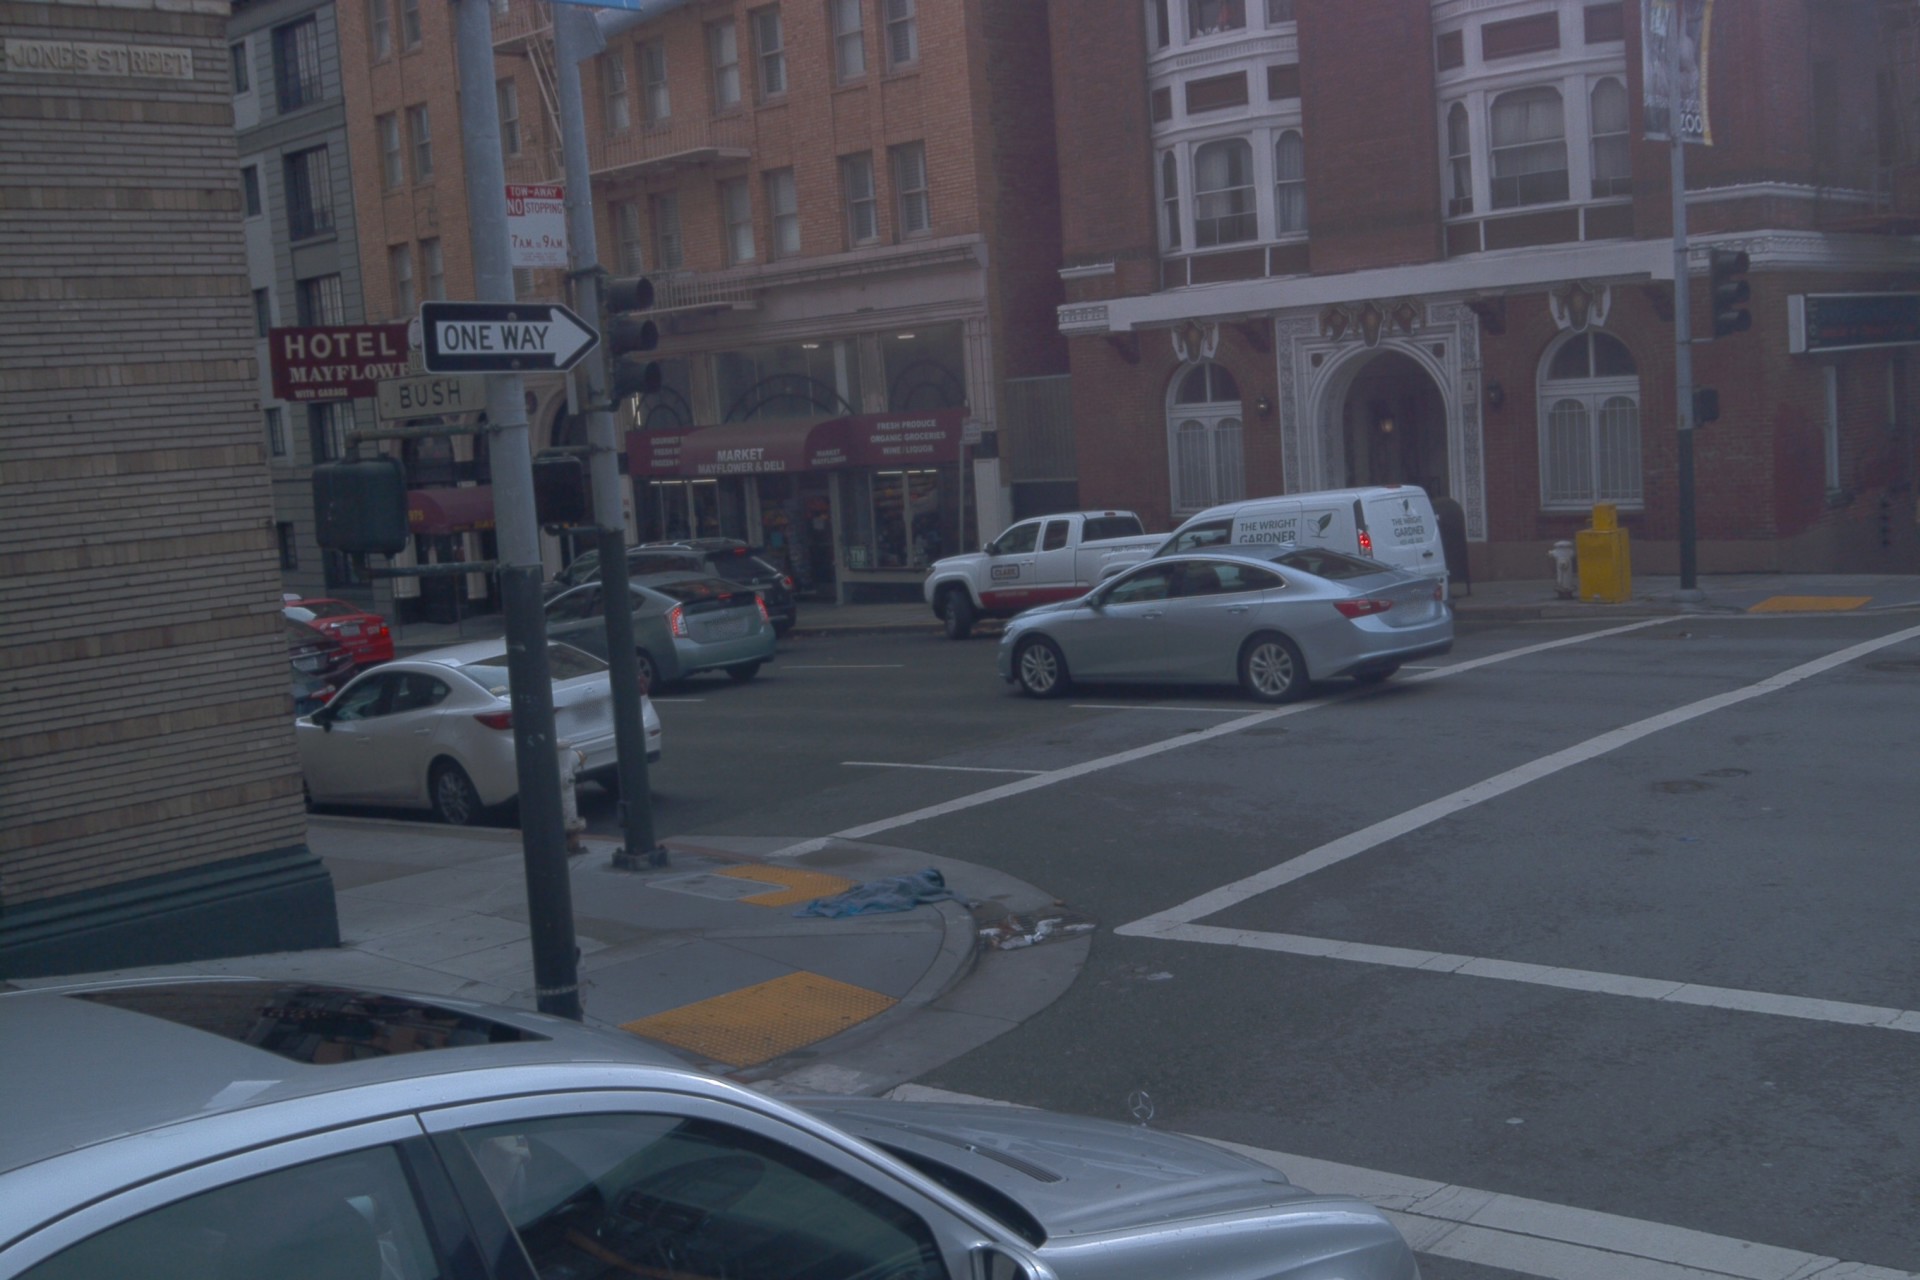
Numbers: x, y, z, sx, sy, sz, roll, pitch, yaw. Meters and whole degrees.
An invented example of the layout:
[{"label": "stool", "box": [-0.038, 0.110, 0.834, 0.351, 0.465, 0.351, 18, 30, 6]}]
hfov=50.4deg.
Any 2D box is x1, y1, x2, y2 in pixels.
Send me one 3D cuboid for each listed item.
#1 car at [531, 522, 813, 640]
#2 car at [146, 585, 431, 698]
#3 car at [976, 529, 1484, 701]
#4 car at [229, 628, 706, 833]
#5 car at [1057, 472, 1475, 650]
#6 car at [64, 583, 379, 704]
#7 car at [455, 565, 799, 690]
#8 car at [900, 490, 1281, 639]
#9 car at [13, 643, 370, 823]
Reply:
[{"label": "car", "box": [-4.538, -0.914, 31.690, 4.624, 1.700, 1.865, 2, 1, 44]}, {"label": "car", "box": [-11.076, -0.023, 33.467, 4.902, 1.680, 2.362, 2, 1, 43]}, {"label": "car", "box": [2.537, -0.275, 20.079, 4.727, 1.500, 1.880, 2, 1, 44]}, {"label": "car", "box": [-4.418, 0.692, 17.945, 4.290, 1.490, 2.048, 2, 1, 43]}, {"label": "car", "box": [3.466, -0.889, 23.707, 4.461, 1.870, 1.947, 2, 1, 44]}, {"label": "car", "box": [-10.048, -0.003, 27.595, 4.617, 1.480, 2.037, 2, 1, 42]}, {"label": "car", "box": [-4.376, -0.204, 26.426, 4.500, 1.470, 2.058, 2, 1, 43]}, {"label": "car", "box": [1.776, -1.055, 29.322, 5.308, 1.950, 2.112, 2, 1, 43]}, {"label": "car", "box": [-8.238, 0.894, 21.685, 4.190, 1.610, 1.891, 2, 1, 43]}]
